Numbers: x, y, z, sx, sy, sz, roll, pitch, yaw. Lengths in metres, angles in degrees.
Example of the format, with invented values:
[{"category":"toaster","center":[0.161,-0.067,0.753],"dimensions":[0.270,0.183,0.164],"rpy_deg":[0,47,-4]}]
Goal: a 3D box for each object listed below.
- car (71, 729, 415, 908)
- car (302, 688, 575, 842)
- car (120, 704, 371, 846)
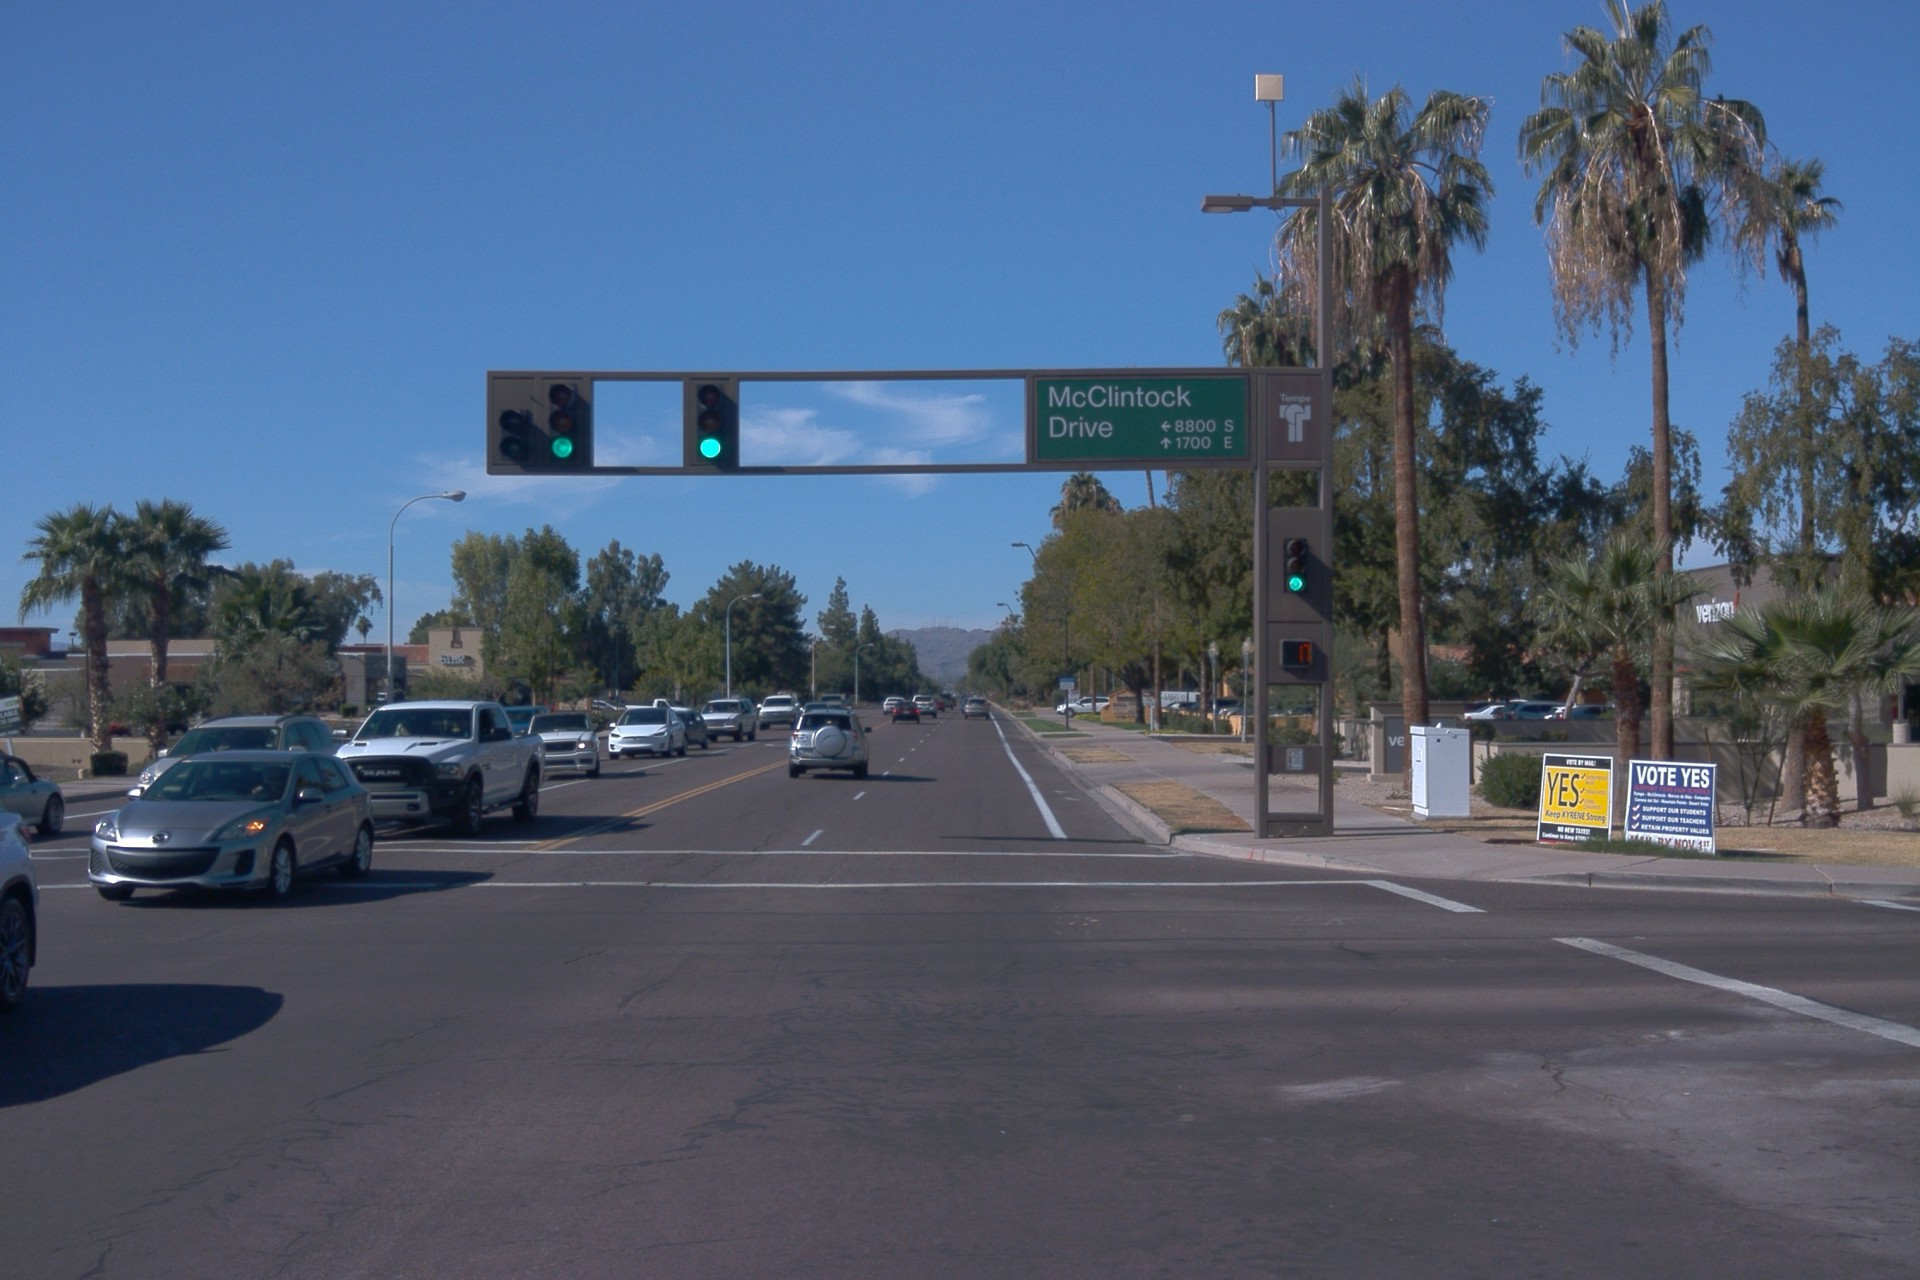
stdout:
[{"category":"car","center":[-7.446,1.803,22.130],"dimensions":[2.113,1.600,4.424],"rpy_deg":[0,-1,0]},{"category":"car","center":[-7.710,1.777,31.499],"dimensions":[2.553,2.090,5.890],"rpy_deg":[0,-1,1]},{"category":"car","center":[-10.820,1.994,31.930],"dimensions":[2.230,1.950,4.955],"rpy_deg":[0,-1,-1]}]
